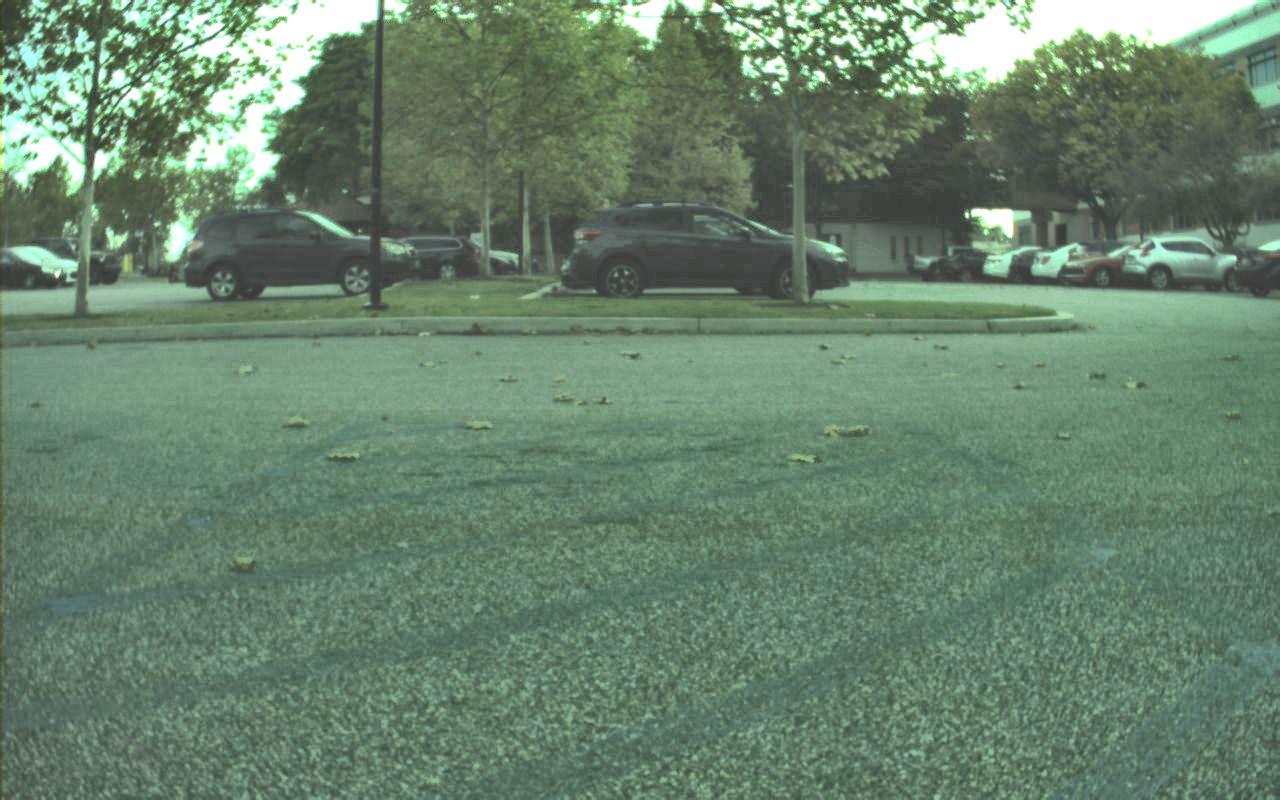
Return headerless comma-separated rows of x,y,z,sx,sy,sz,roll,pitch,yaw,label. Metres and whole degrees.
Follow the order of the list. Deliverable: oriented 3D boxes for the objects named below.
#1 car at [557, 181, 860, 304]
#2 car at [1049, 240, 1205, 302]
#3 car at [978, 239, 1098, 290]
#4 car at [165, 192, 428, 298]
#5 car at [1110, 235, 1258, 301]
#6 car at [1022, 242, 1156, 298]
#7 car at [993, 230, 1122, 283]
1.025,-2.464,20.114,4.653,1.720,1.987,0,1,-4,car
14.885,-3.850,36.228,4.620,1.637,1.978,0,1,-1,car
15.203,-5.116,46.438,4.589,1.733,2.027,1,1,12,car
-6.479,-2.858,22.963,4.745,1.777,2.035,0,1,-2,car
15.646,-3.690,33.462,4.154,1.647,1.875,0,1,2,car
15.562,-4.436,41.490,4.457,1.687,1.955,1,1,3,car
15.265,-5.169,44.085,4.461,1.663,1.959,0,1,-1,car
